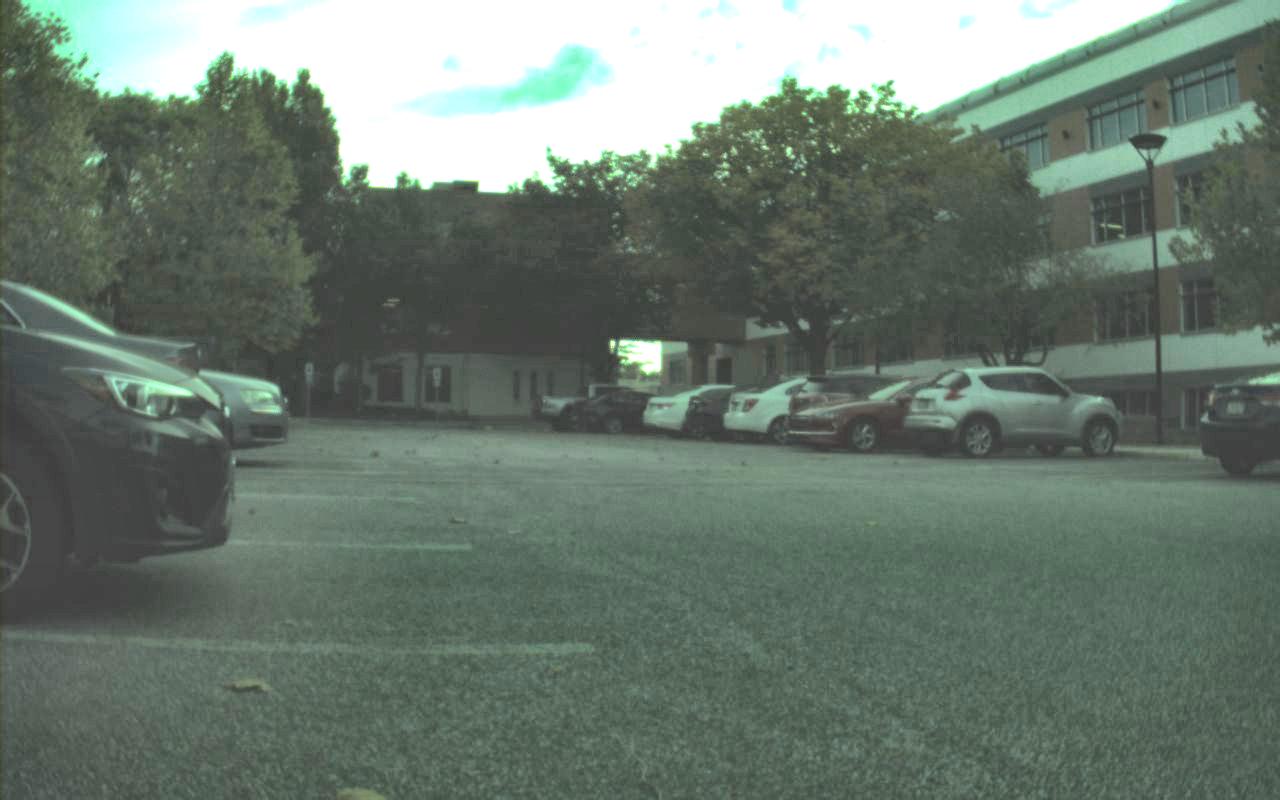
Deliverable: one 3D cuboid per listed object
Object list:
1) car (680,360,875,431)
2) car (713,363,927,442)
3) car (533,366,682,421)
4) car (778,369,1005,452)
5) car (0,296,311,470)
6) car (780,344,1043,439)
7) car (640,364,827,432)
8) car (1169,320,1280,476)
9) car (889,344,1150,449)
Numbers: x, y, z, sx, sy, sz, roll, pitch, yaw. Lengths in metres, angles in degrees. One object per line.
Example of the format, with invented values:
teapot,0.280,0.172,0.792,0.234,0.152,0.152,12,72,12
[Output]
car,3.375,-0.127,30.980,4.426,1.655,1.947,0,1,-16
car,4.096,0.029,28.621,4.501,1.709,1.965,0,1,-13
car,-1.196,-0.243,45.606,5.019,1.917,2.094,0,1,-18
car,5.295,0.192,26.121,4.414,1.628,1.946,0,1,-15
car,-5.649,-0.171,11.858,4.650,1.637,1.993,0,1,-18
car,5.130,-0.165,23.329,4.646,1.654,1.983,0,1,-15
car,2.446,-0.076,33.386,4.591,1.730,2.002,0,1,-10
car,8.711,-0.014,13.518,4.568,1.658,1.975,0,1,-17
car,6.580,-0.063,20.969,4.285,1.661,1.898,0,1,-15
